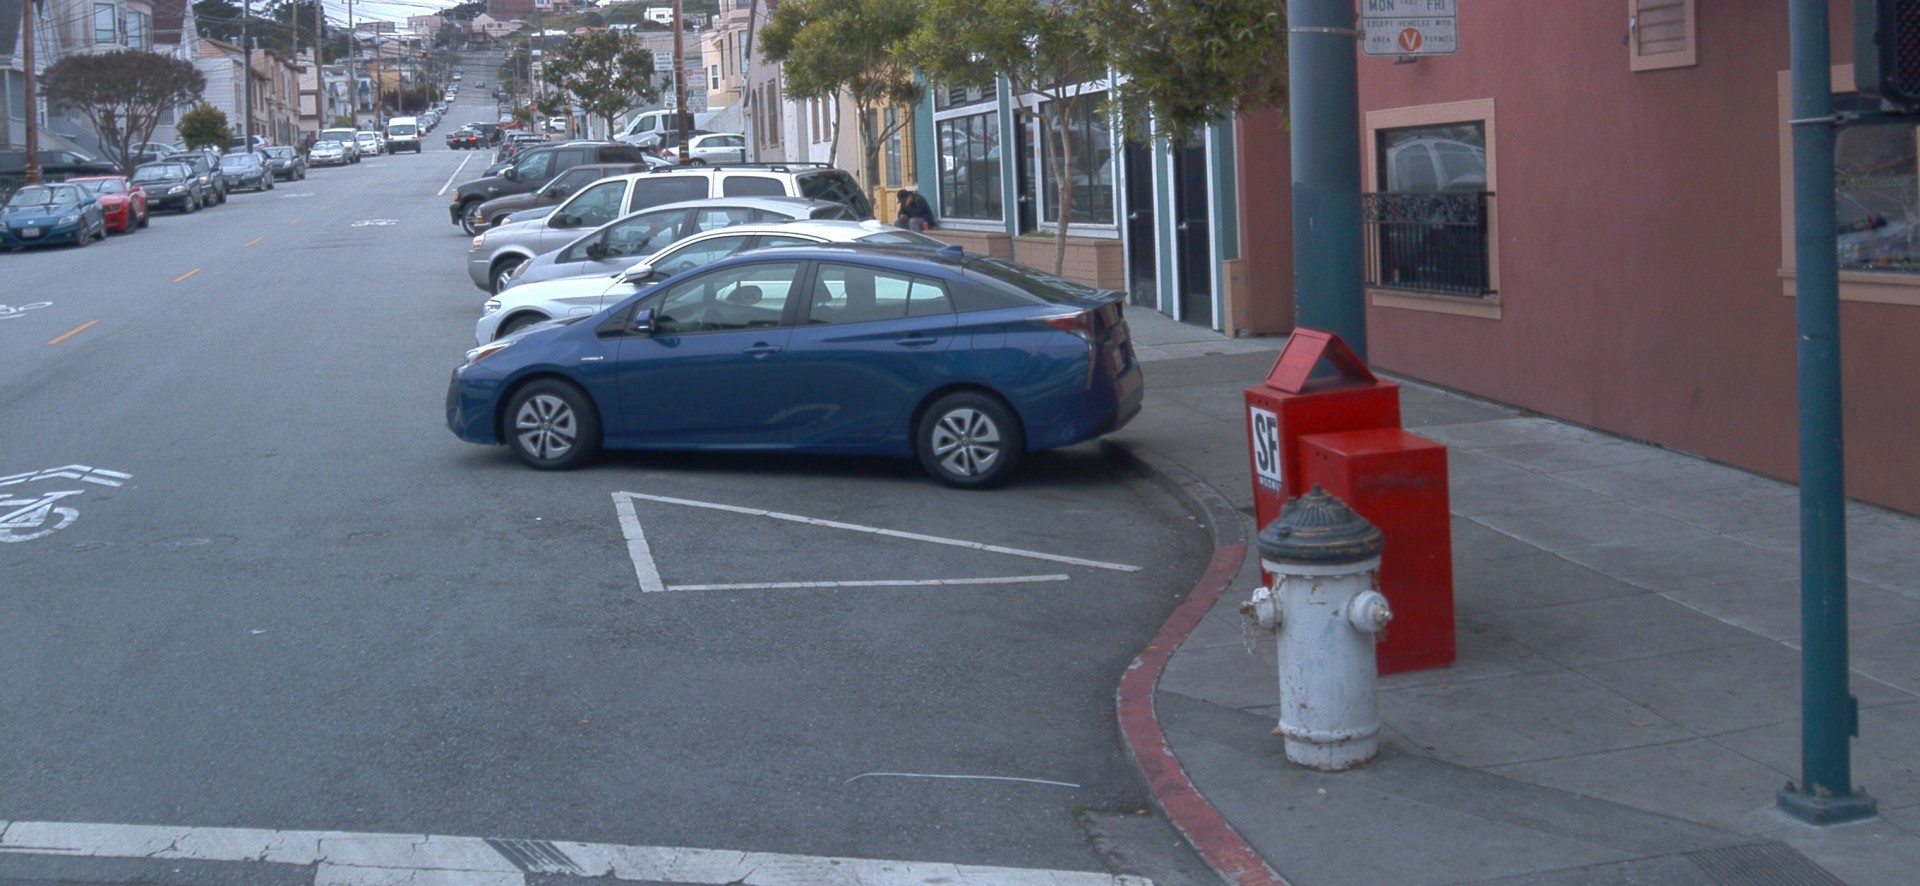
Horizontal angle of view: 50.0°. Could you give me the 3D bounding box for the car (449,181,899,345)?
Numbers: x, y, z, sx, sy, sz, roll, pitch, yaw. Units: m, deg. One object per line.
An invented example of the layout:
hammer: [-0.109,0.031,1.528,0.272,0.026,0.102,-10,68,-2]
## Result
car: [-2.972,-1.915,21.504,4.210,1.575,2.028,2,5,22]

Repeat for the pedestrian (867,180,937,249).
pedestrian: [-0.900,-3.532,31.814,0.914,1.047,0.996,-1,3,-12]

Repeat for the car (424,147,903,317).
car: [-3.609,-2.556,24.878,5.407,1.864,2.269,3,5,27]

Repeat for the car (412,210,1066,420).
car: [-1.877,-1.176,17.498,5.120,1.575,2.163,2,5,23]

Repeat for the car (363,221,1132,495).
car: [-1.317,-0.667,13.782,4.679,1.625,2.181,1,4,12]
